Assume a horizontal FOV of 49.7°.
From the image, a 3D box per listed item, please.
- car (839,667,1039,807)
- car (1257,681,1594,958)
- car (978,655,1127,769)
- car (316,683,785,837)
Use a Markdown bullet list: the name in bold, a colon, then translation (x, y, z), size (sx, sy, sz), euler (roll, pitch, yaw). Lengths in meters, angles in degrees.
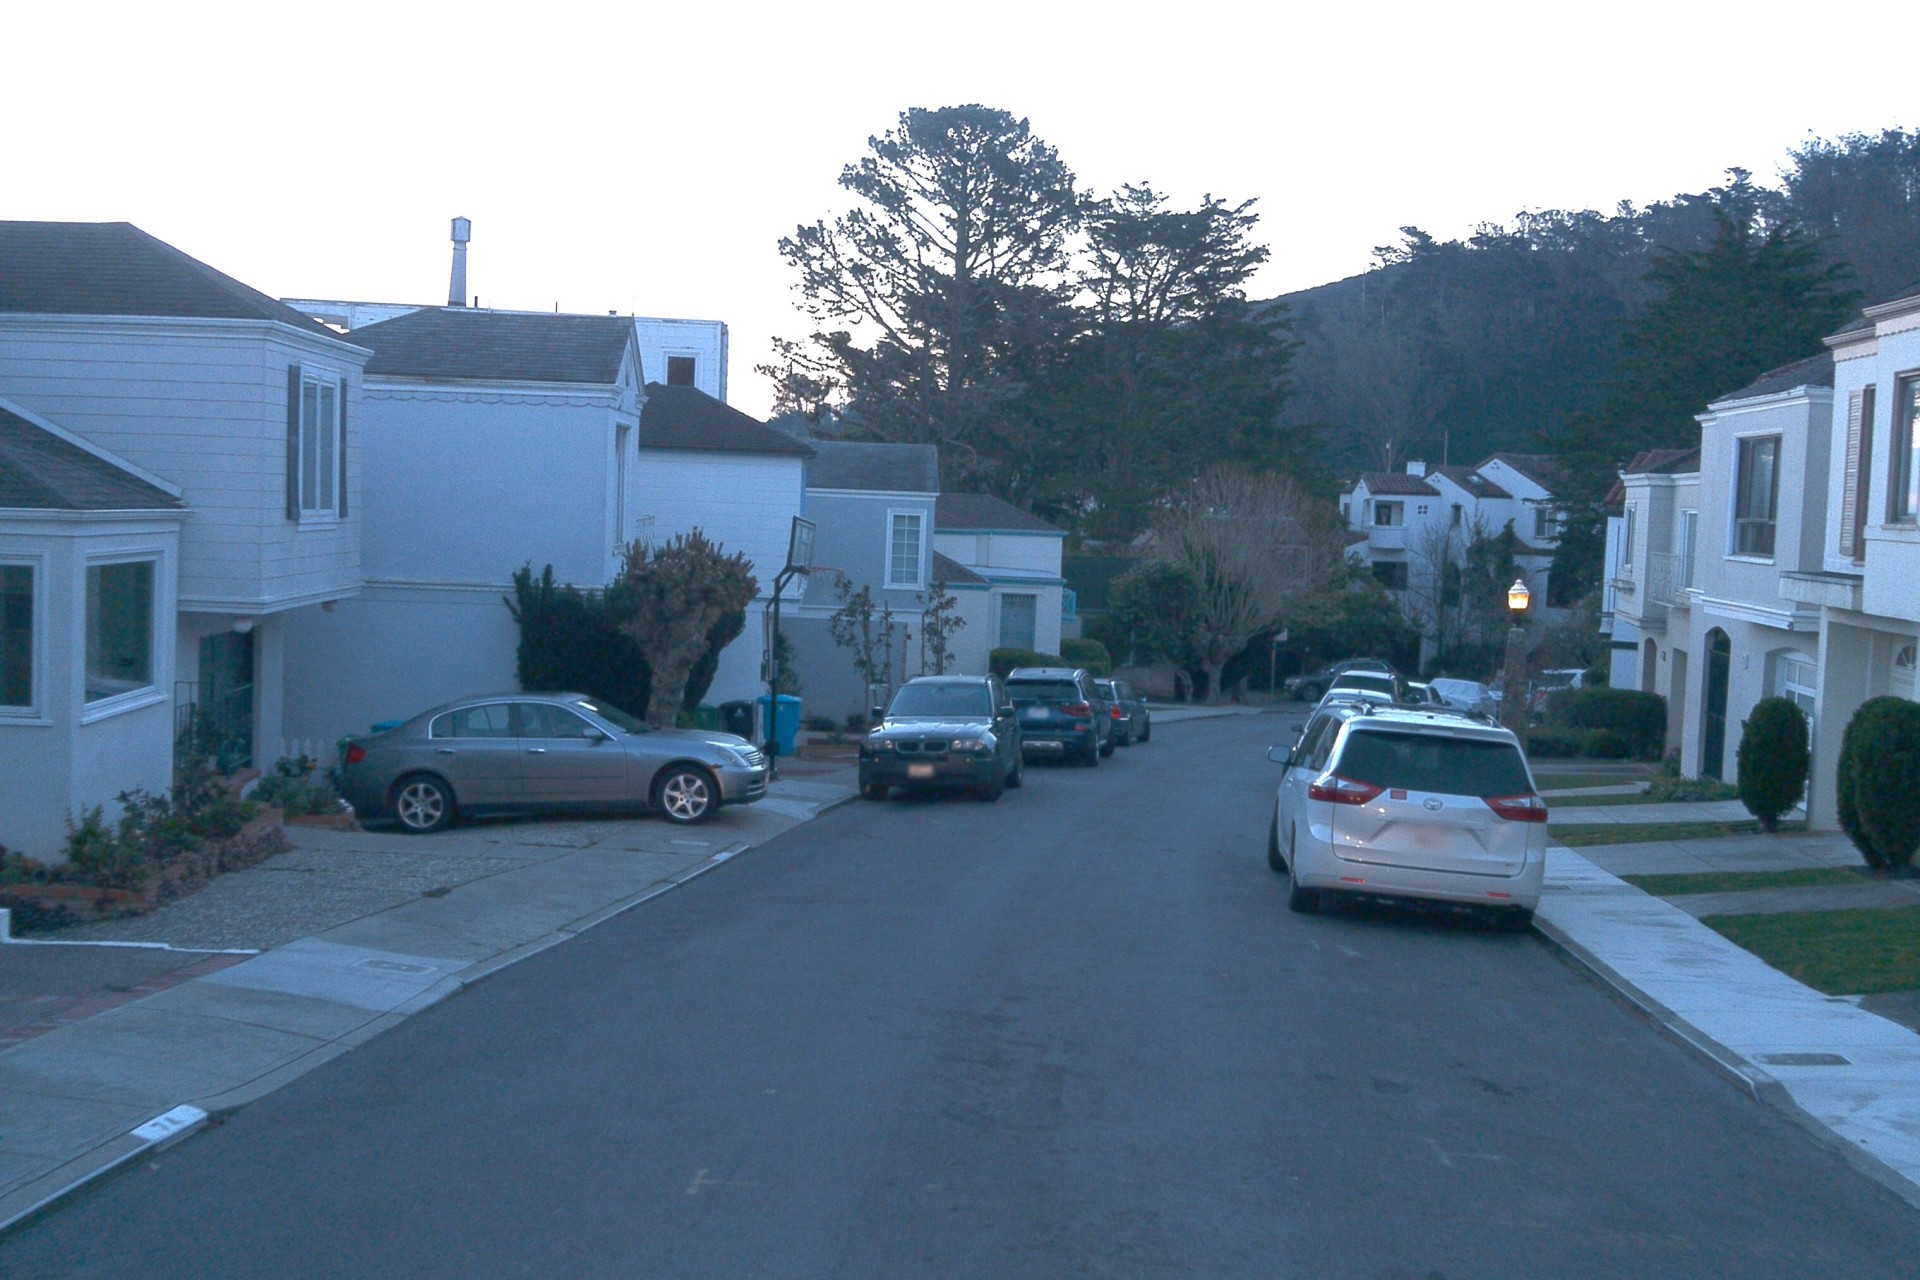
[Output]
- **car**: translation (-0.183, 1.262, 28.673), size (2.096, 1.740, 4.526), euler (0, 0, 8)
- **car**: translation (3.947, 1.427, 18.530), size (2.376, 2.050, 5.074), euler (0, 0, 6)
- **car**: translation (1.717, 1.212, 36.638), size (2.210, 1.870, 4.682), euler (0, 0, 8)
- **car**: translation (-4.442, 1.288, 22.977), size (4.769, 1.580, 1.989), euler (0, 0, 3)
